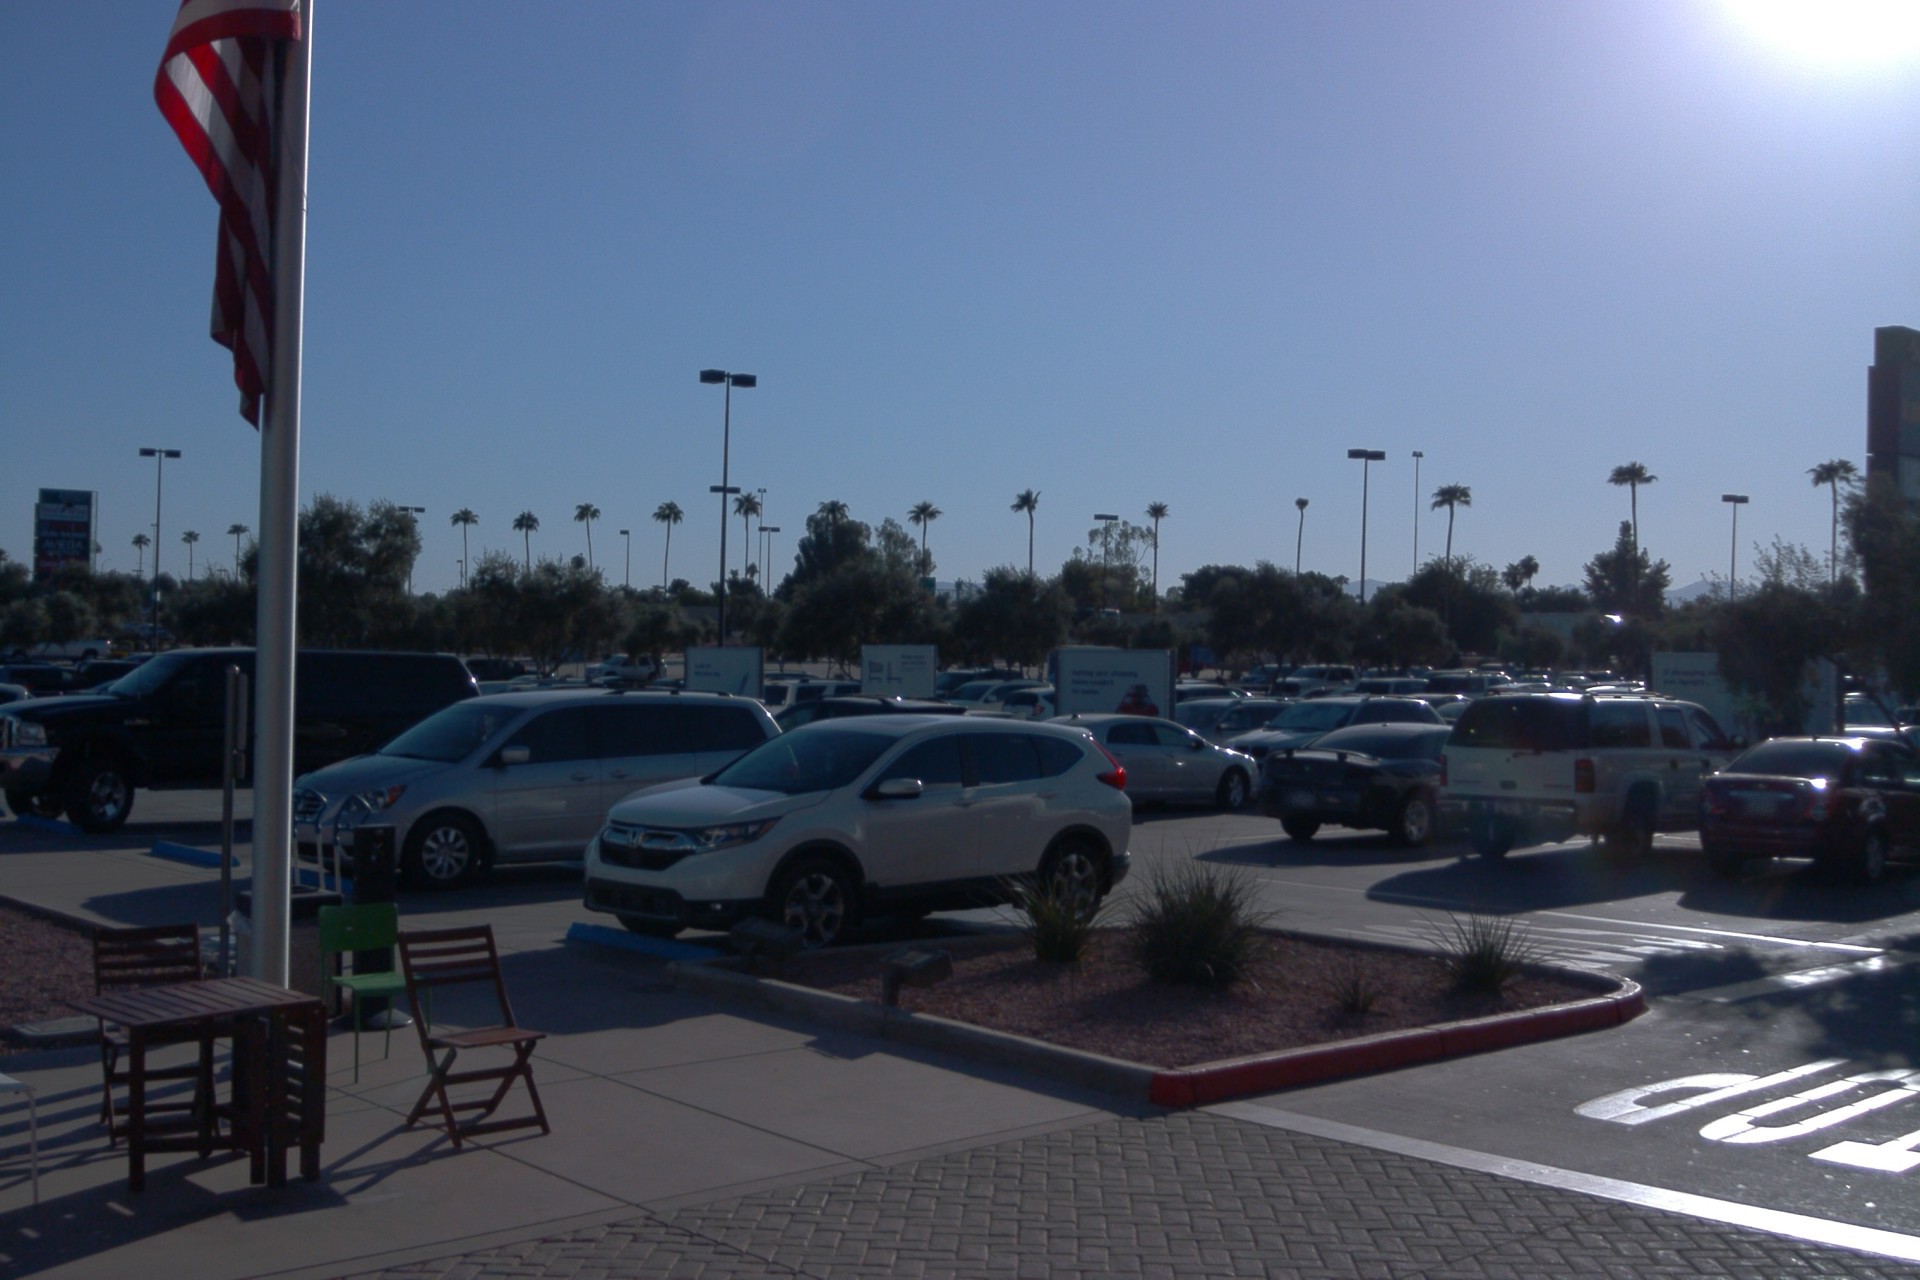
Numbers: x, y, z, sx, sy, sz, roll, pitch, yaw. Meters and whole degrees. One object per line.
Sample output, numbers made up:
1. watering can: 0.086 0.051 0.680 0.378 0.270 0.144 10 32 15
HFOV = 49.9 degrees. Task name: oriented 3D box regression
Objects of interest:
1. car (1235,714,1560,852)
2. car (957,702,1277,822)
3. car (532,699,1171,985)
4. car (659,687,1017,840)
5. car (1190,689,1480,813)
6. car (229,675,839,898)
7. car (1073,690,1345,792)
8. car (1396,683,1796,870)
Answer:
1. car: 5.660 1.762 26.419 4.346 1.490 1.909 1 0 -43
2. car: 2.406 1.756 30.832 4.773 1.560 1.931 1 0 -41
3. car: -0.676 1.360 15.569 2.159 1.710 4.564 0 0 43
4. car: -1.698 1.572 27.754 4.563 1.770 2.205 0 0 42
5. car: 6.328 1.784 34.535 4.865 1.830 2.266 1 0 -43
6. car: -3.897 1.247 19.639 5.286 1.780 2.246 1 0 -44
7. car: 4.464 1.734 36.556 4.796 1.600 2.186 1 0 -43
8. car: 7.583 1.489 24.278 5.317 1.880 2.178 1 0 -44
